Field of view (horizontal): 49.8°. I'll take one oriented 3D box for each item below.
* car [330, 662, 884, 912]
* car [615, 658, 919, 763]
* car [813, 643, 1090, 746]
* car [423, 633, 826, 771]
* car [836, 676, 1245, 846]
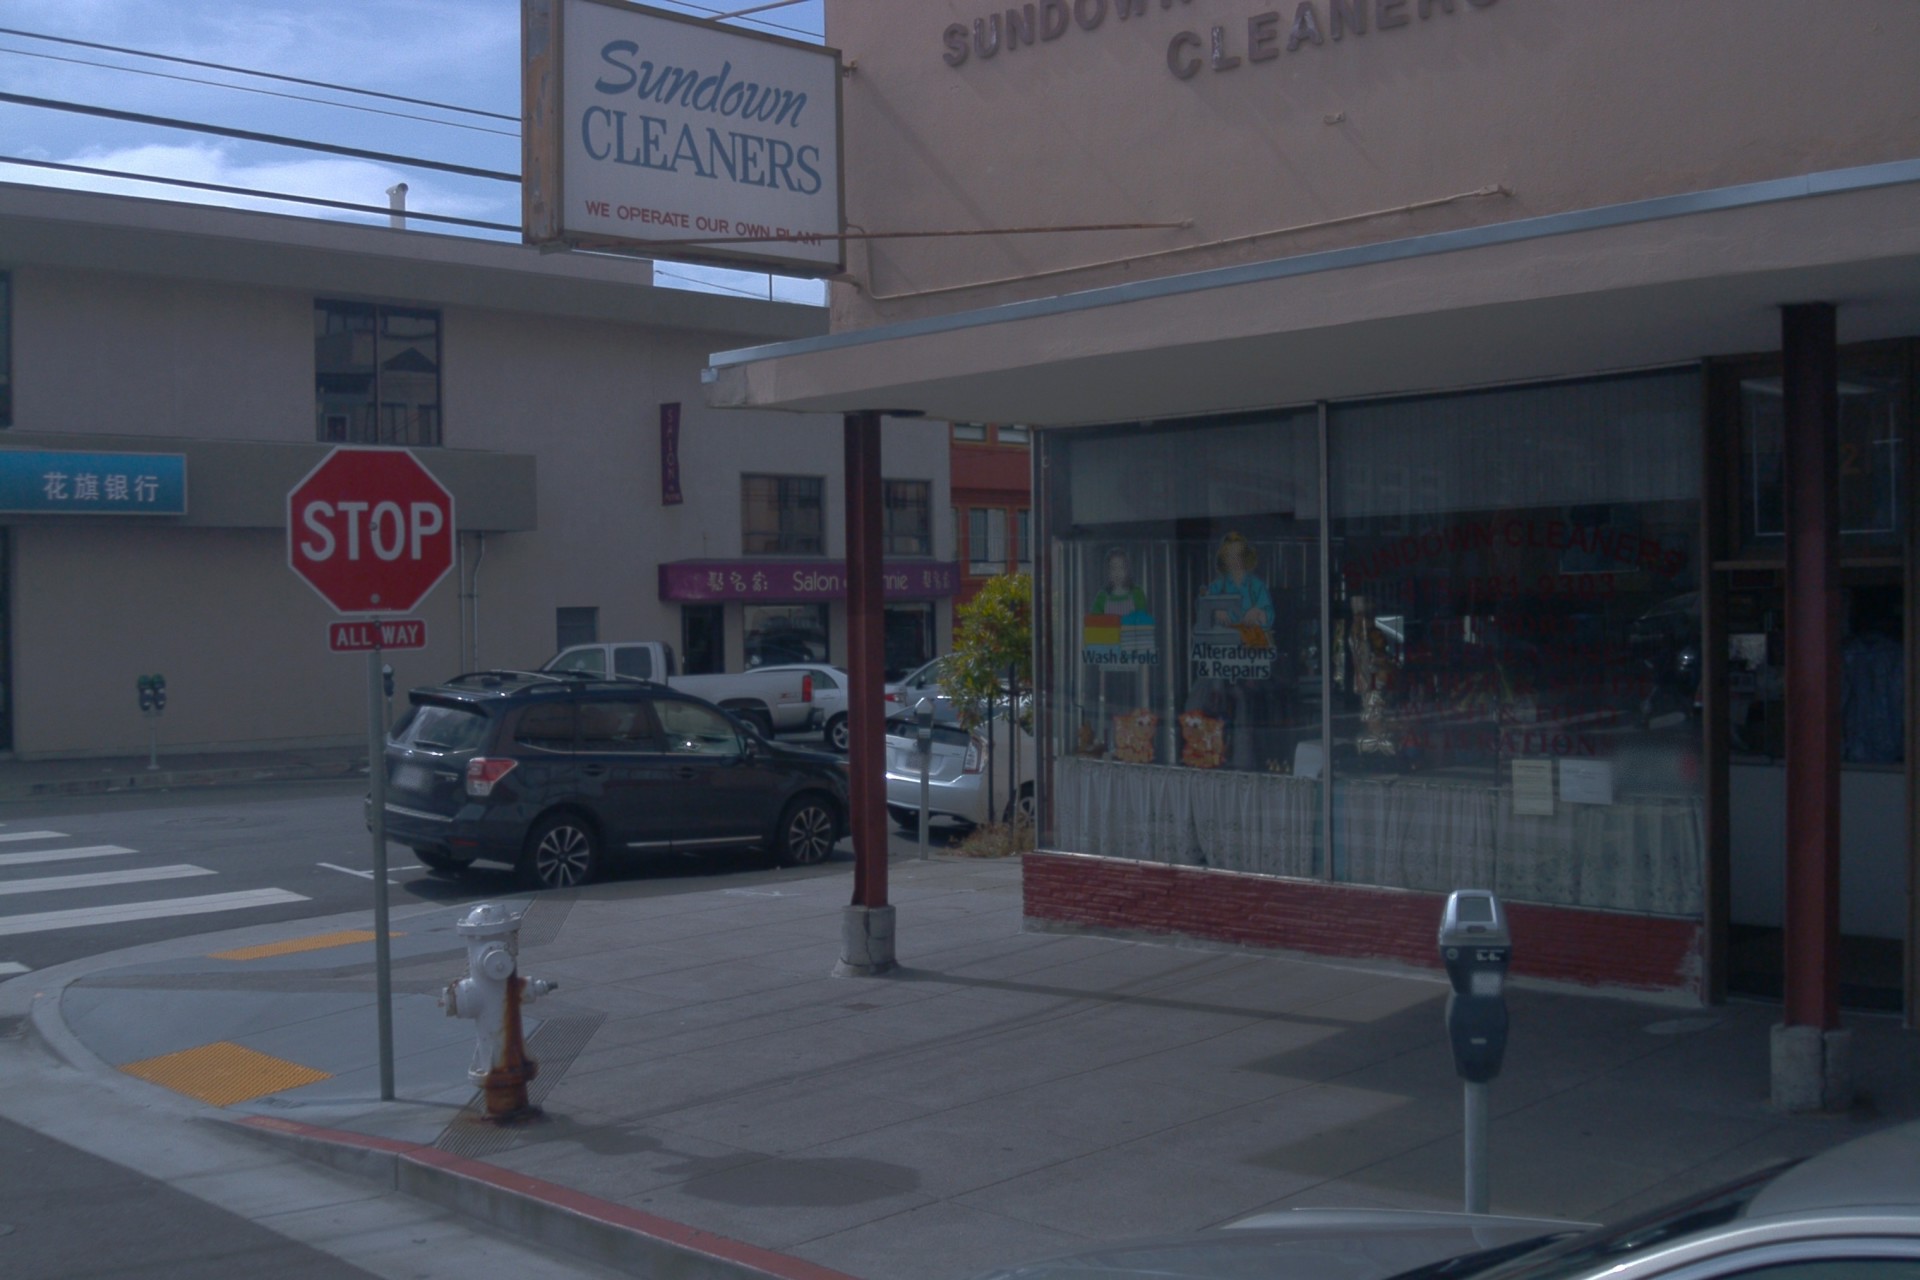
[{"bbox_3d":[-2.938,1.142,17.931,2.005,1.877,4.386,0,-1,44],"label":"car"},{"bbox_3d":[-3.099,1.130,33.971,4.699,1.630,2.090,0,-1,4],"label":"car"},{"bbox_3d":[-0.099,0.943,36.763,4.703,1.730,2.088,0,-1,8],"label":"car"},{"bbox_3d":[-4.972,0.919,31.455,5.805,1.970,2.405,0,-1,-2],"label":"car"},{"bbox_3d":[0.927,1.182,21.767,2.020,1.567,4.203,0,-1,44],"label":"car"}]
